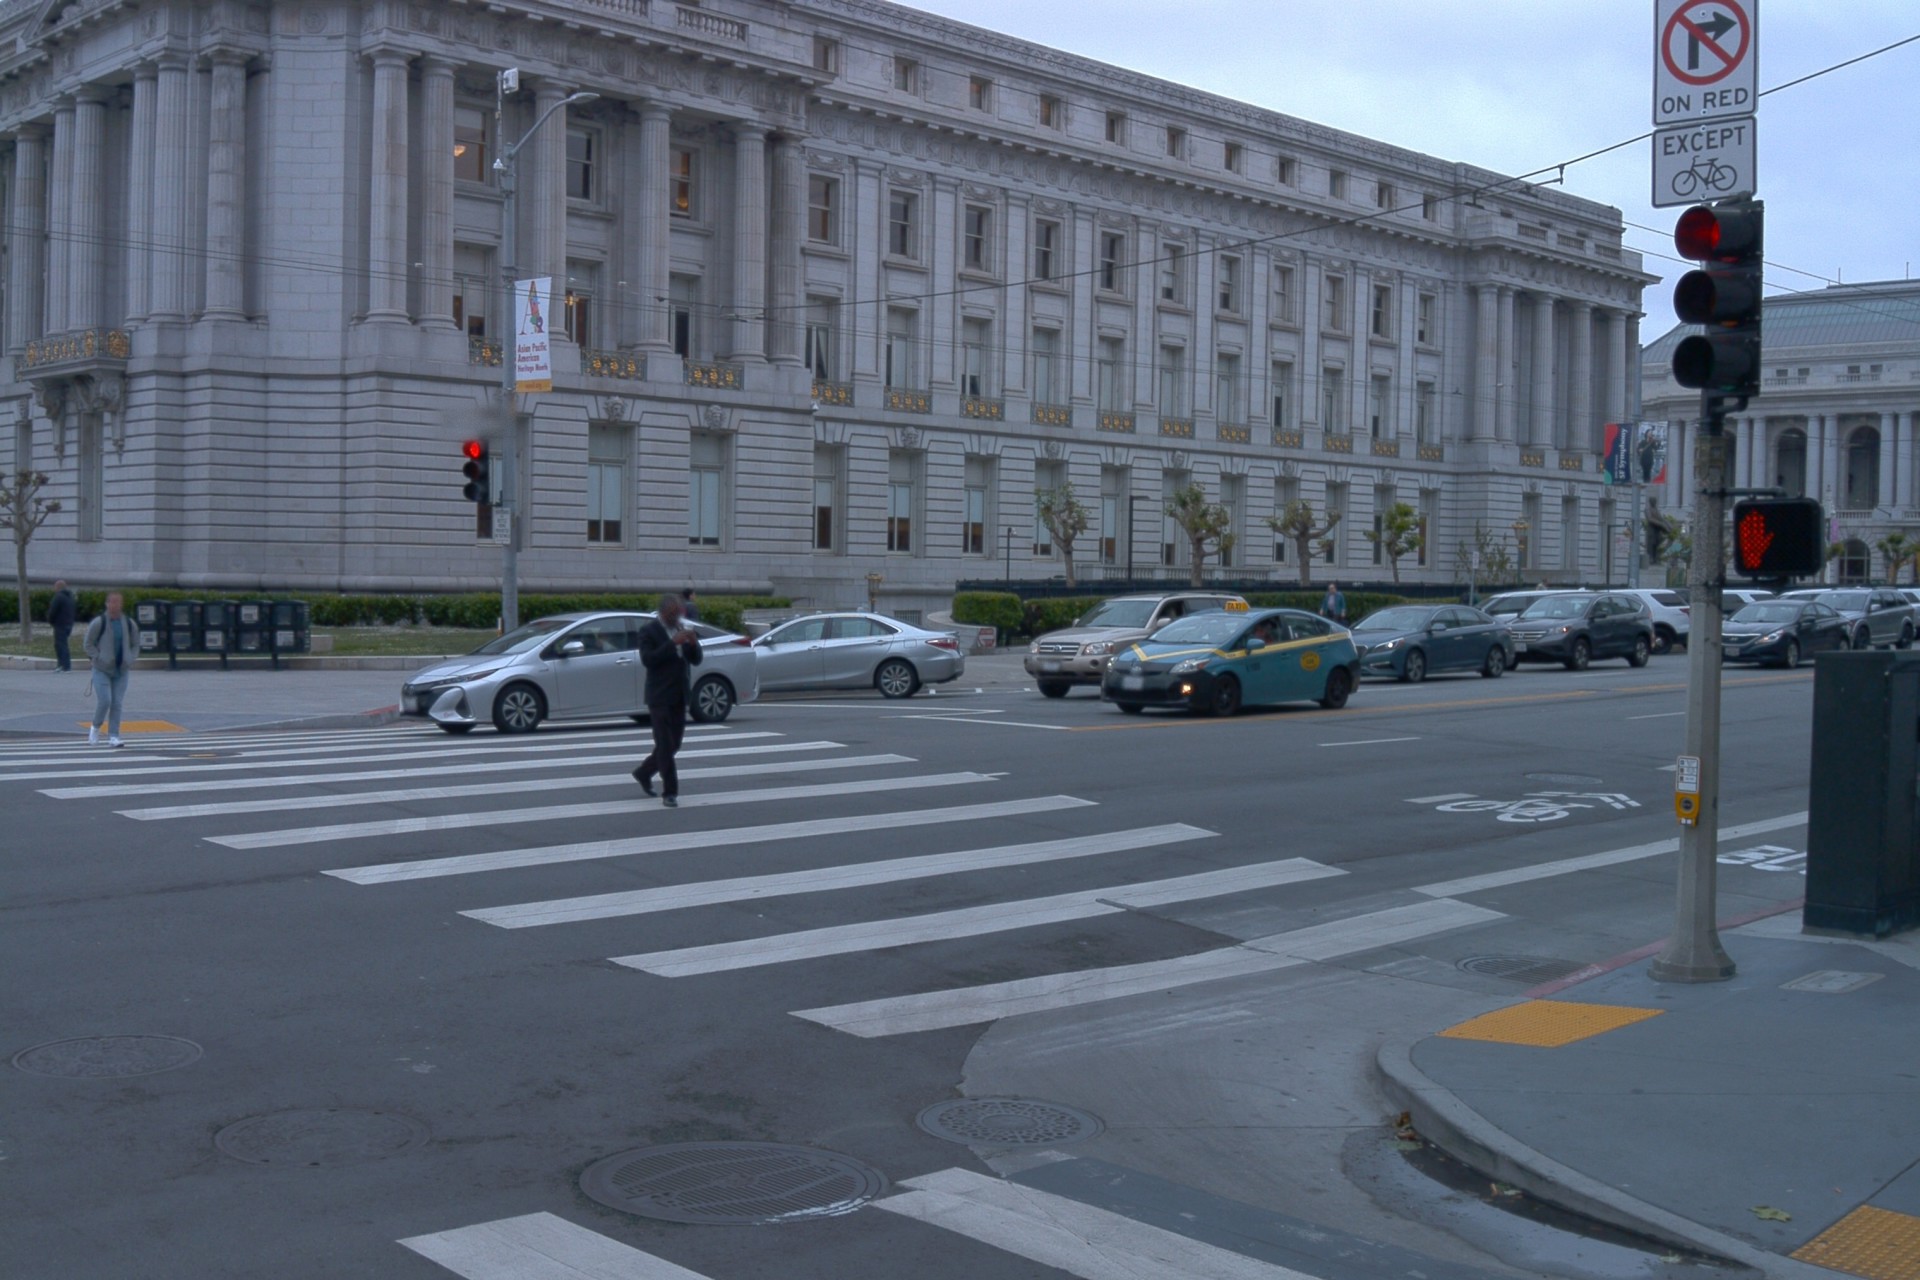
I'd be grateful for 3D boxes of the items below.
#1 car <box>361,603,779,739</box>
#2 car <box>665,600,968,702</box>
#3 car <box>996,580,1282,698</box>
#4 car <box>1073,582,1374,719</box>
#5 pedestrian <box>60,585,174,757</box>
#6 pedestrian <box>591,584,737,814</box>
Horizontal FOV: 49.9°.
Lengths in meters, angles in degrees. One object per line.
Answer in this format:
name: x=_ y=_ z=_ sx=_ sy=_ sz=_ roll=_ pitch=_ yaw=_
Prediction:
car: x=-4.783 y=0.328 z=25.750 sx=4.666 sy=1.540 sz=2.143 roll=-1 pitch=1 yaw=-41
car: x=-2.356 y=0.169 z=34.894 sx=4.904 sy=1.667 sz=2.106 roll=0 pitch=1 yaw=4
car: x=3.010 y=-0.038 z=33.981 sx=2.180 sy=1.800 sz=4.766 roll=1 pitch=1 yaw=44
car: x=3.794 y=0.119 z=29.286 sx=2.040 sy=1.787 sz=4.328 roll=1 pitch=1 yaw=44
pedestrian: x=-9.352 y=0.324 z=22.904 sx=0.805 sy=1.850 sz=1.160 roll=-1 pitch=1 yaw=-43
pedestrian: x=-2.467 y=0.468 z=17.171 sx=0.806 sy=1.850 sz=0.958 roll=-1 pitch=1 yaw=-41
